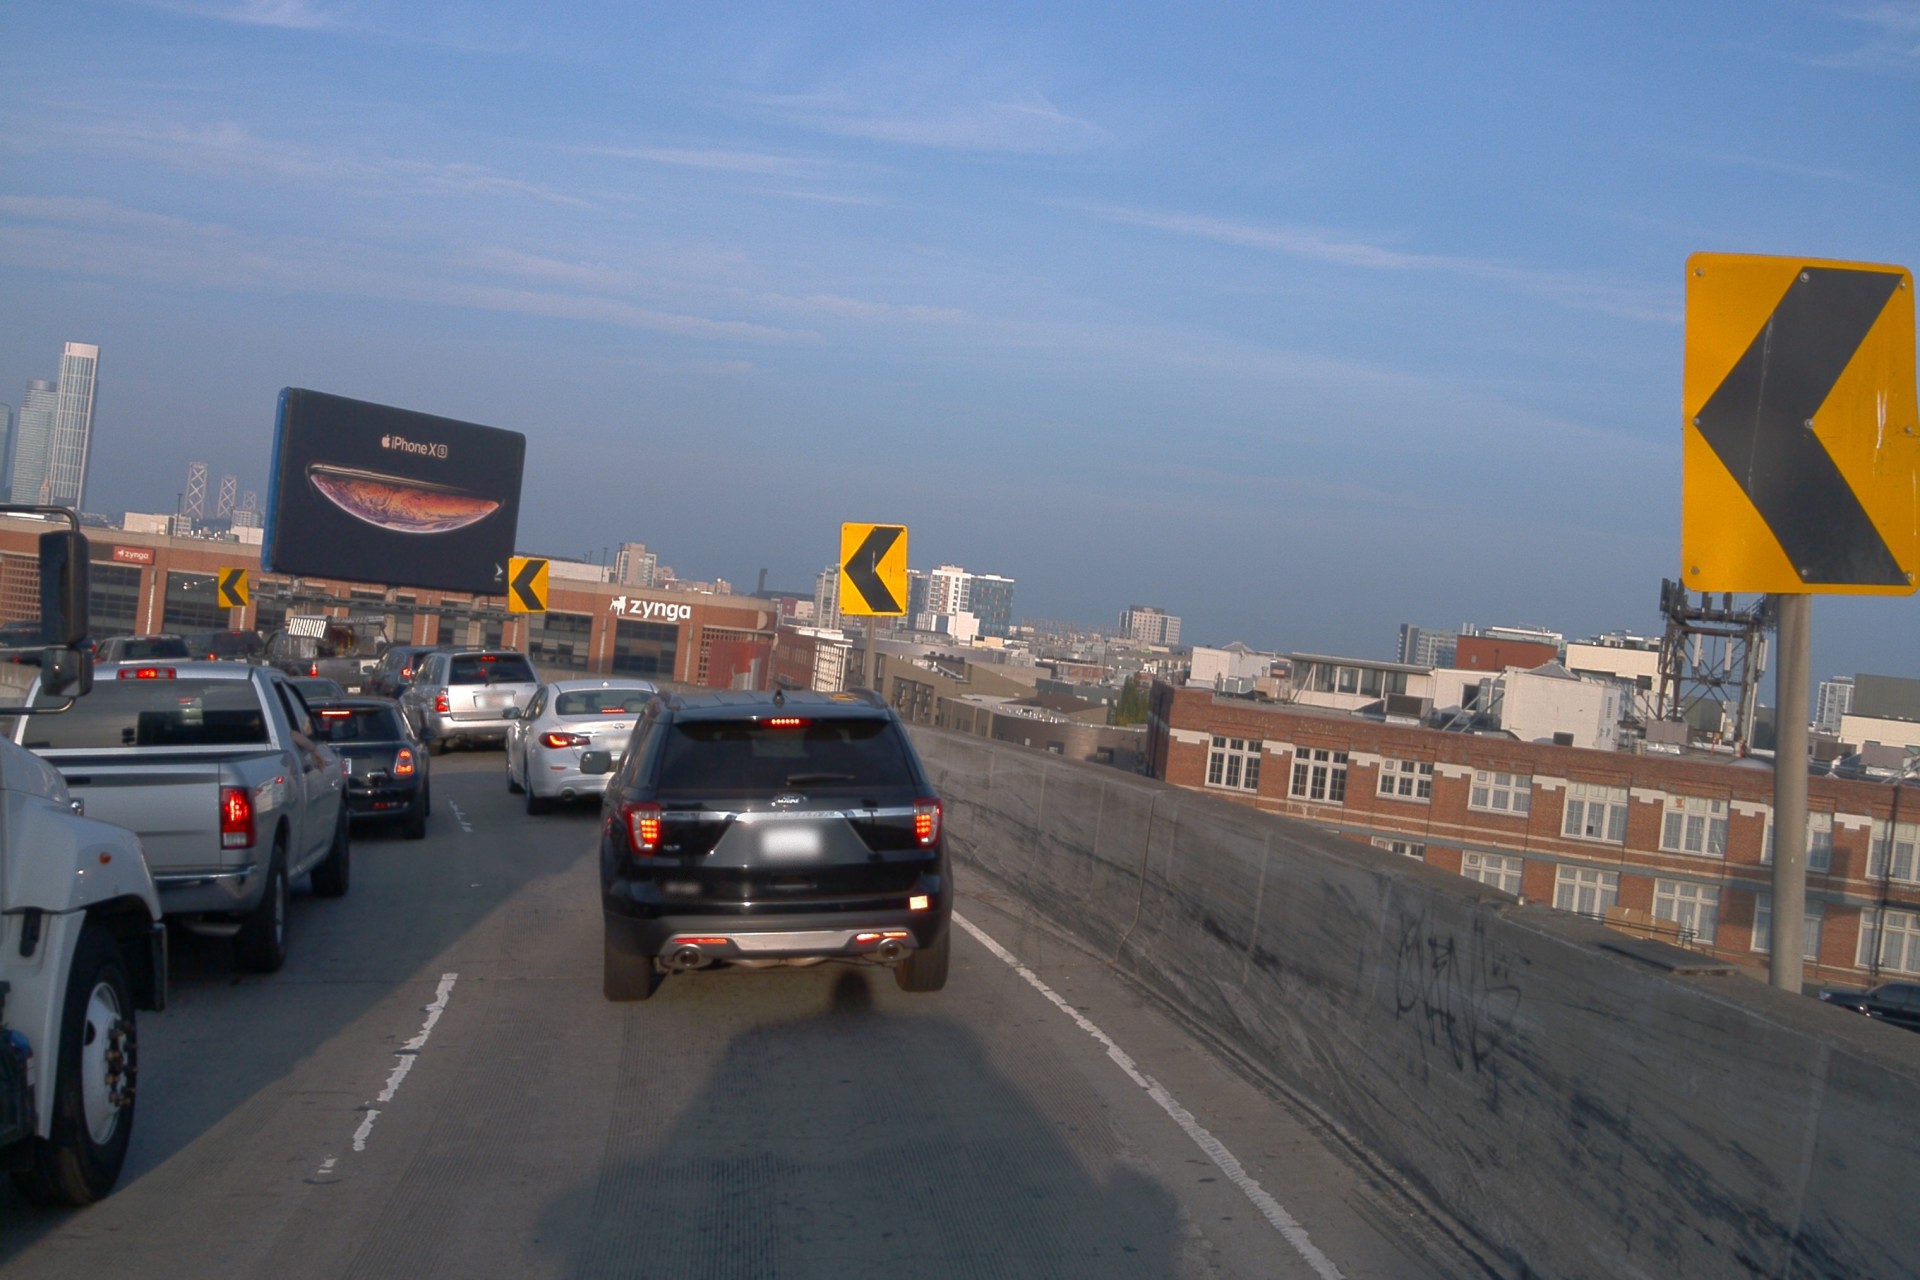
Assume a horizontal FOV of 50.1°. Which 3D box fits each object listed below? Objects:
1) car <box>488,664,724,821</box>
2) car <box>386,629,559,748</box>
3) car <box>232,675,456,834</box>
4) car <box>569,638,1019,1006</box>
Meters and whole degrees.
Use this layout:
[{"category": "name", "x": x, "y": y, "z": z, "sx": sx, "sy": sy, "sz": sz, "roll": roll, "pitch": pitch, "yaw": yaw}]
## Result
[{"category": "car", "x": -4.302, "y": 1.120, "z": 24.327, "sx": 2.144, "sy": 1.590, "sz": 4.509, "roll": 0, "pitch": 0, "yaw": -18}, {"category": "car", "x": -8.106, "y": 0.740, "z": 33.859, "sx": 1.992, "sy": 1.820, "sz": 4.393, "roll": 0, "pitch": 0, "yaw": -24}, {"category": "car", "x": -6.373, "y": 1.118, "z": 21.642, "sx": 1.934, "sy": 1.411, "sz": 4.084, "roll": 0, "pitch": 0, "yaw": -12}, {"category": "car", "x": -1.252, "y": 0.924, "z": 13.044, "sx": 2.327, "sy": 1.850, "sz": 4.876, "roll": 0, "pitch": 0, "yaw": -10}]
